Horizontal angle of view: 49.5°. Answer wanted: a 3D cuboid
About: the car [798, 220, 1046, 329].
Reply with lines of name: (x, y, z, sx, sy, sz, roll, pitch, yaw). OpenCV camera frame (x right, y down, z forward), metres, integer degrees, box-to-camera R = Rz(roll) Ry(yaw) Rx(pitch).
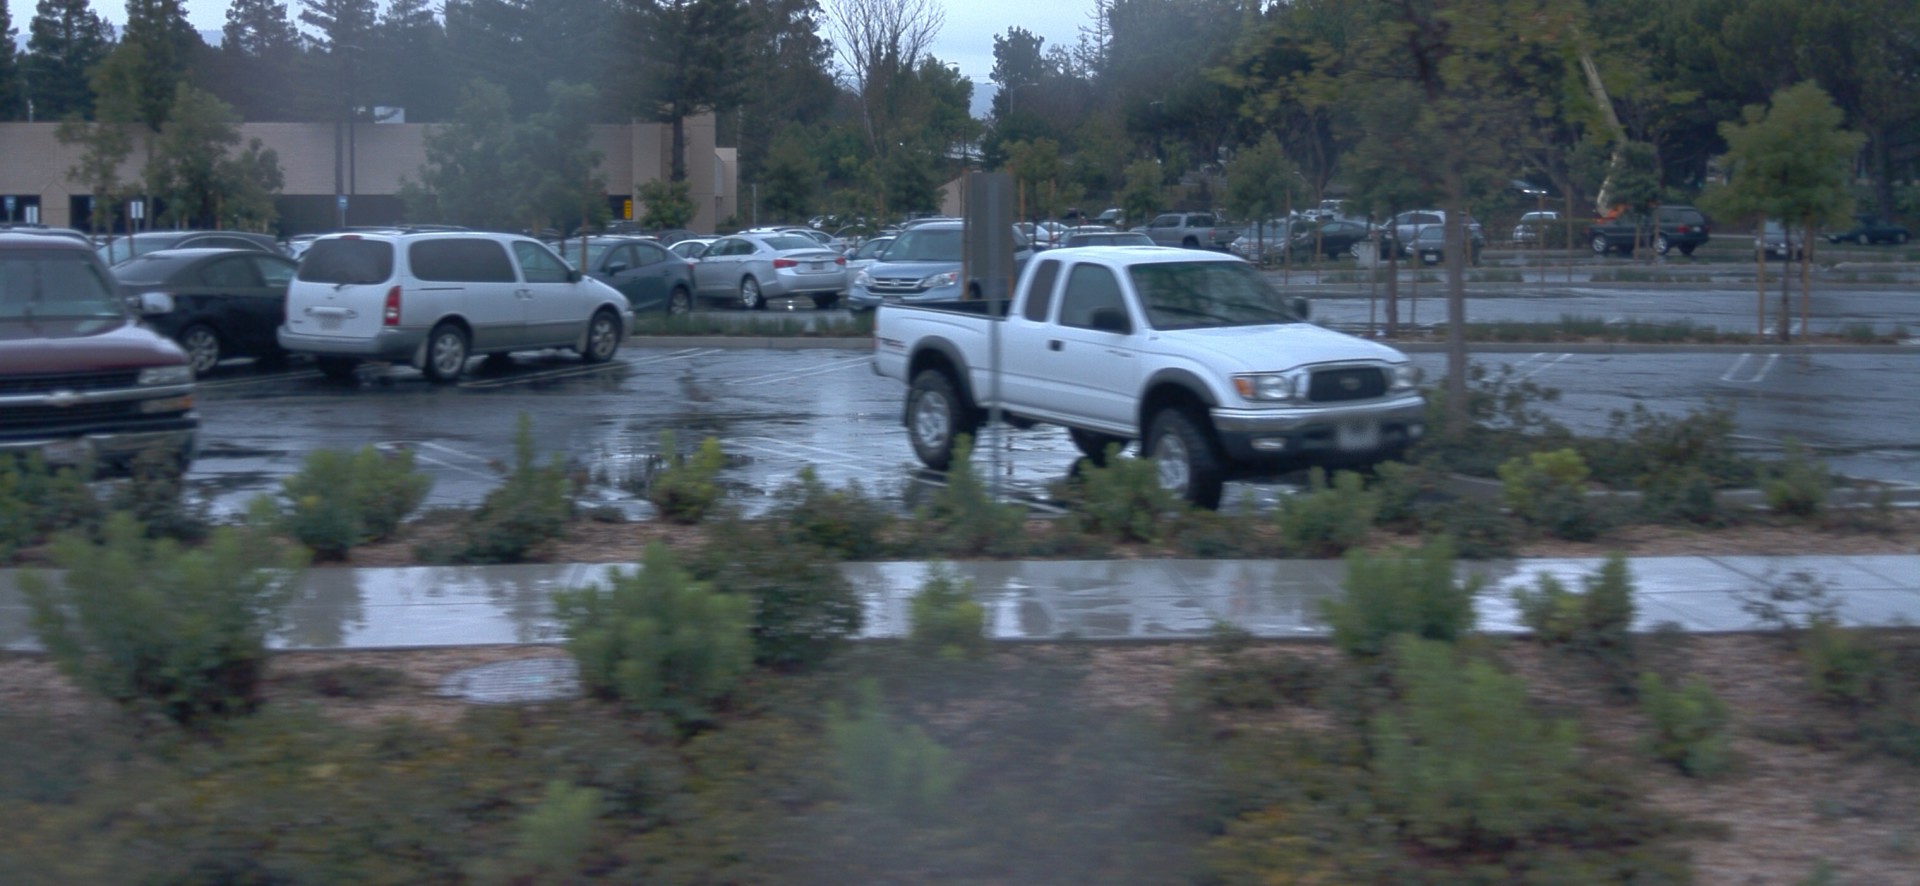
car: (-0.472, -2.617, 31.703, 2.180, 1.504, 4.717, 2, 6, 21)

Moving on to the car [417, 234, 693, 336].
car: (-6.061, -2.466, 31.728, 2.057, 1.414, 4.409, 2, 6, 22)

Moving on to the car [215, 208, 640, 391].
car: (-6.202, -1.796, 24.902, 2.167, 1.943, 4.914, 2, 5, 28)

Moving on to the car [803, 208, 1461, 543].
car: (1.021, -0.698, 15.436, 2.092, 2.033, 5.228, -2, 5, -33)
